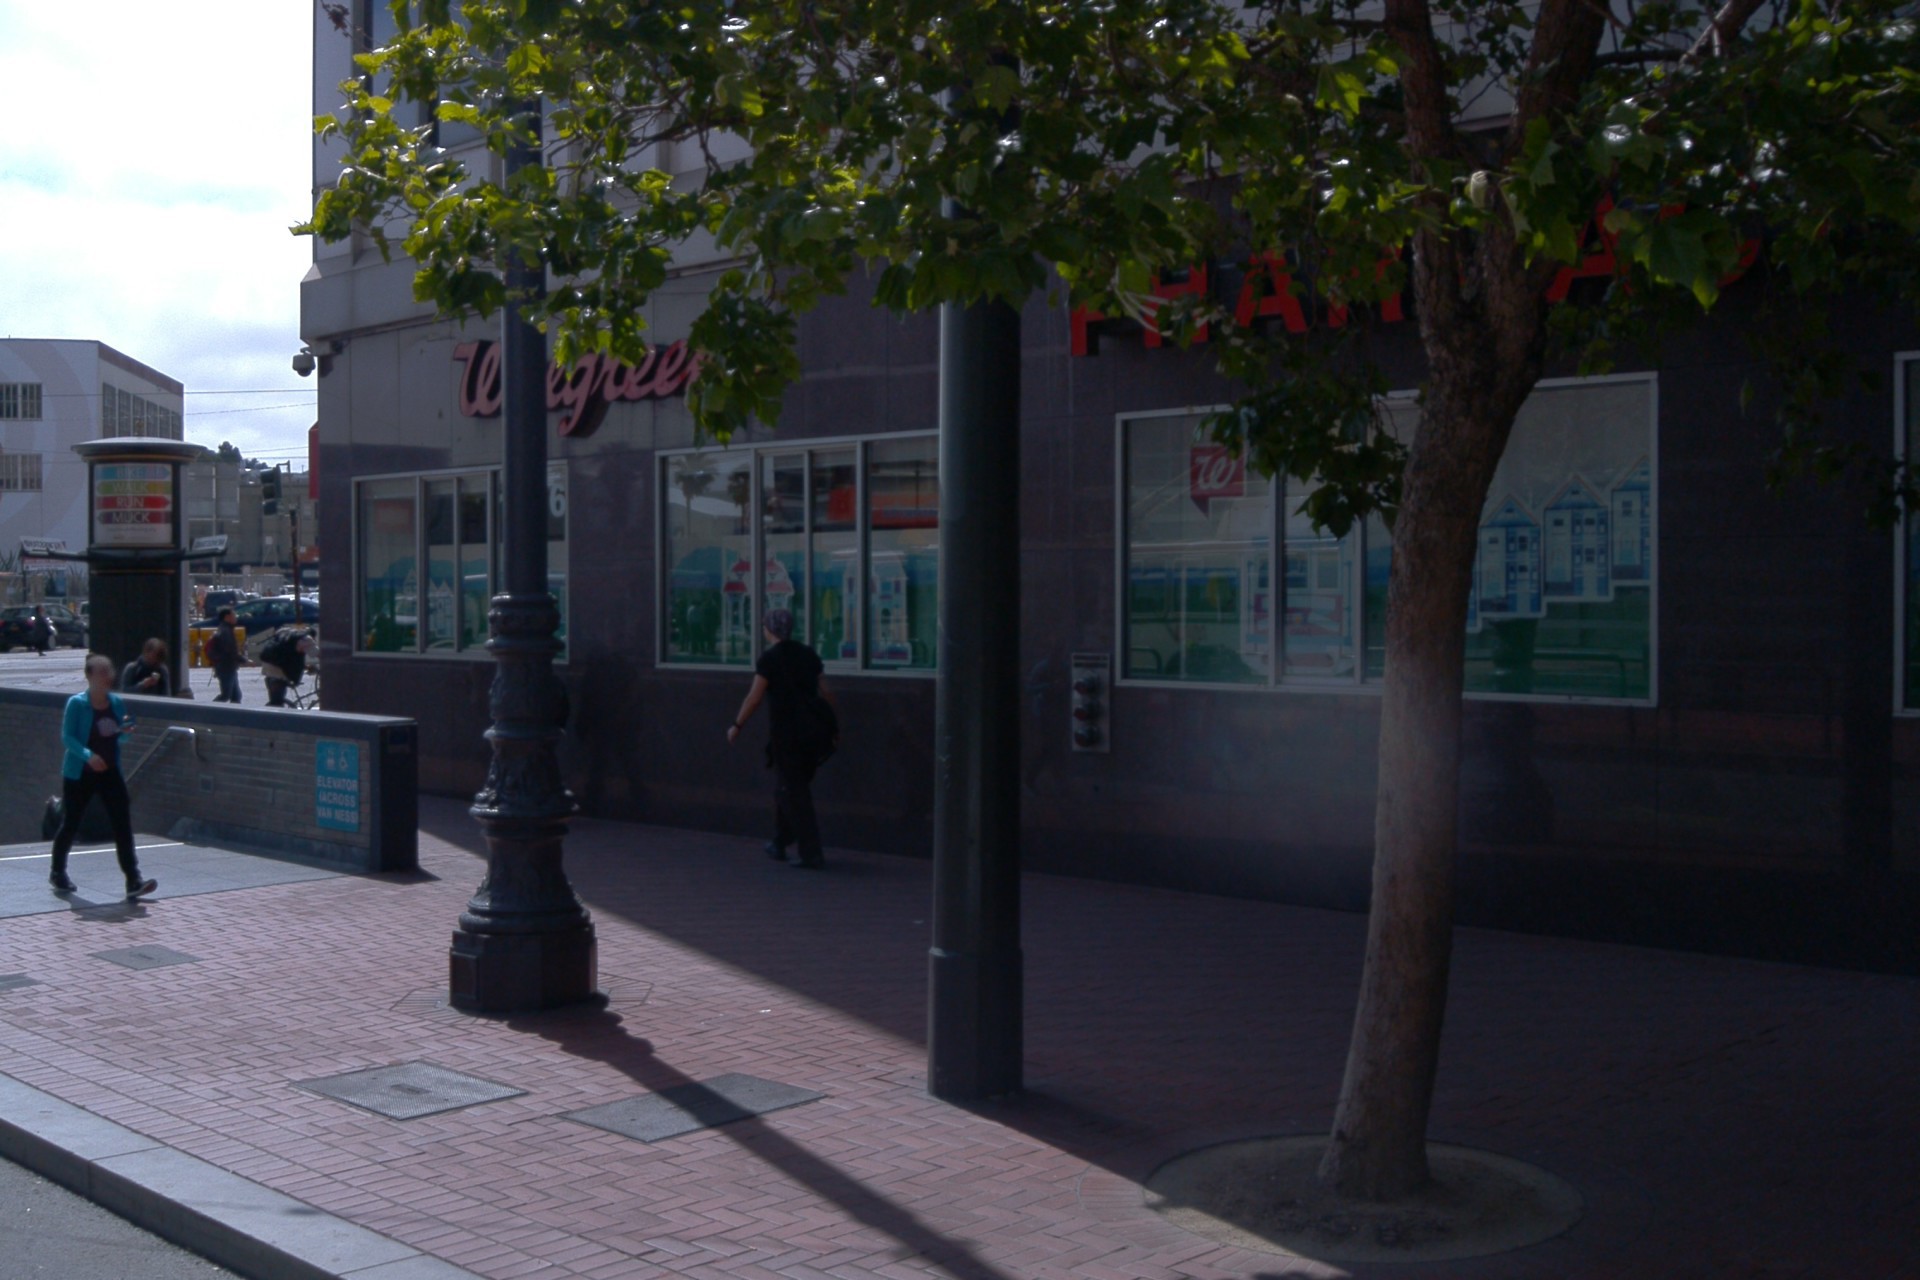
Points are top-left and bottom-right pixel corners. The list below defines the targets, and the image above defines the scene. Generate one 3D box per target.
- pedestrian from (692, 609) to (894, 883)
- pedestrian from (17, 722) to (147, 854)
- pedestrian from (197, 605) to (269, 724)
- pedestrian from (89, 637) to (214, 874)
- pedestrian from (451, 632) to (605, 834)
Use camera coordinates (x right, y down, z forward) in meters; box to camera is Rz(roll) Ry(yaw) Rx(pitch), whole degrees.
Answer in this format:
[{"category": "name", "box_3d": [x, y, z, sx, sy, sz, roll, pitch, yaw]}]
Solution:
[{"category": "pedestrian", "box_3d": [-1.222, 0.727, 14.984, 0.912, 1.900, 1.192, 0, 0, -43]}, {"category": "pedestrian", "box_3d": [-7.259, 1.207, 16.995, 0.907, 1.000, 0.698, 0, 0, 45]}, {"category": "pedestrian", "box_3d": [-10.427, 0.342, 29.513, 0.889, 1.670, 0.847, 0, 0, -14]}, {"category": "pedestrian", "box_3d": [-7.805, 1.080, 19.845, 0.961, 2.200, 0.775, 0, 0, 44]}, {"category": "pedestrian", "box_3d": [-3.761, 0.778, 17.882, 0.875, 1.680, 1.061, 0, 0, -44]}]
